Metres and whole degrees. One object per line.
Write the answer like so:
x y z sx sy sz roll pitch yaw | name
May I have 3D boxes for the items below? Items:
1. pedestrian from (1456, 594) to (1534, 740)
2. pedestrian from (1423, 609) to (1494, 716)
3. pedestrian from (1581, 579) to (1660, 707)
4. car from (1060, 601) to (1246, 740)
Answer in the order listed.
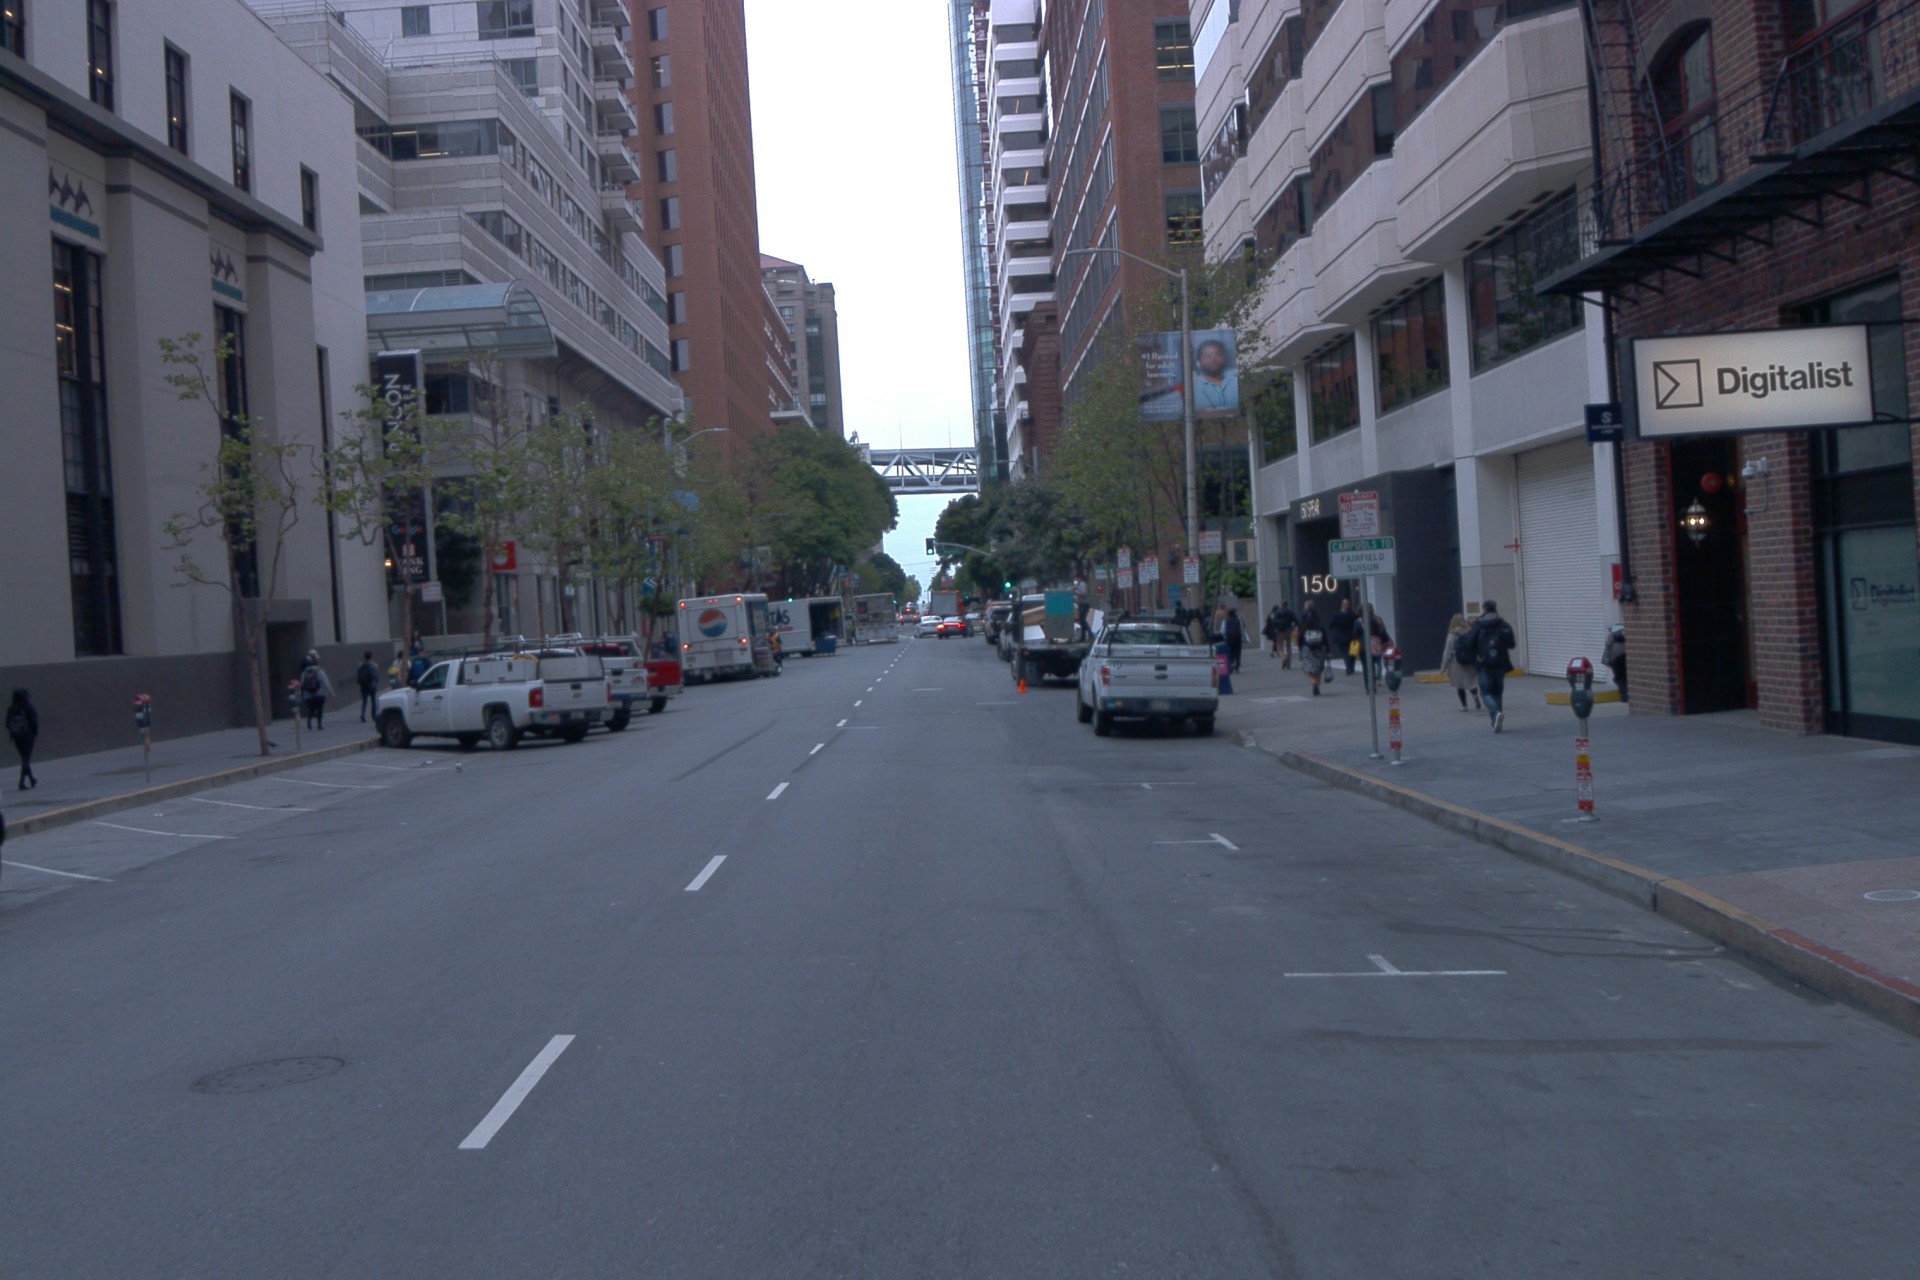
6.830 0.328 26.278 0.740 1.830 0.962 0 1 0 | pedestrian
7.611 0.331 31.410 0.888 1.600 0.979 0 1 3 | pedestrian
9.705 0.036 30.233 0.933 1.850 0.881 0 1 5 | pedestrian
3.218 0.441 35.680 2.514 2.200 6.098 0 1 -1 | car
